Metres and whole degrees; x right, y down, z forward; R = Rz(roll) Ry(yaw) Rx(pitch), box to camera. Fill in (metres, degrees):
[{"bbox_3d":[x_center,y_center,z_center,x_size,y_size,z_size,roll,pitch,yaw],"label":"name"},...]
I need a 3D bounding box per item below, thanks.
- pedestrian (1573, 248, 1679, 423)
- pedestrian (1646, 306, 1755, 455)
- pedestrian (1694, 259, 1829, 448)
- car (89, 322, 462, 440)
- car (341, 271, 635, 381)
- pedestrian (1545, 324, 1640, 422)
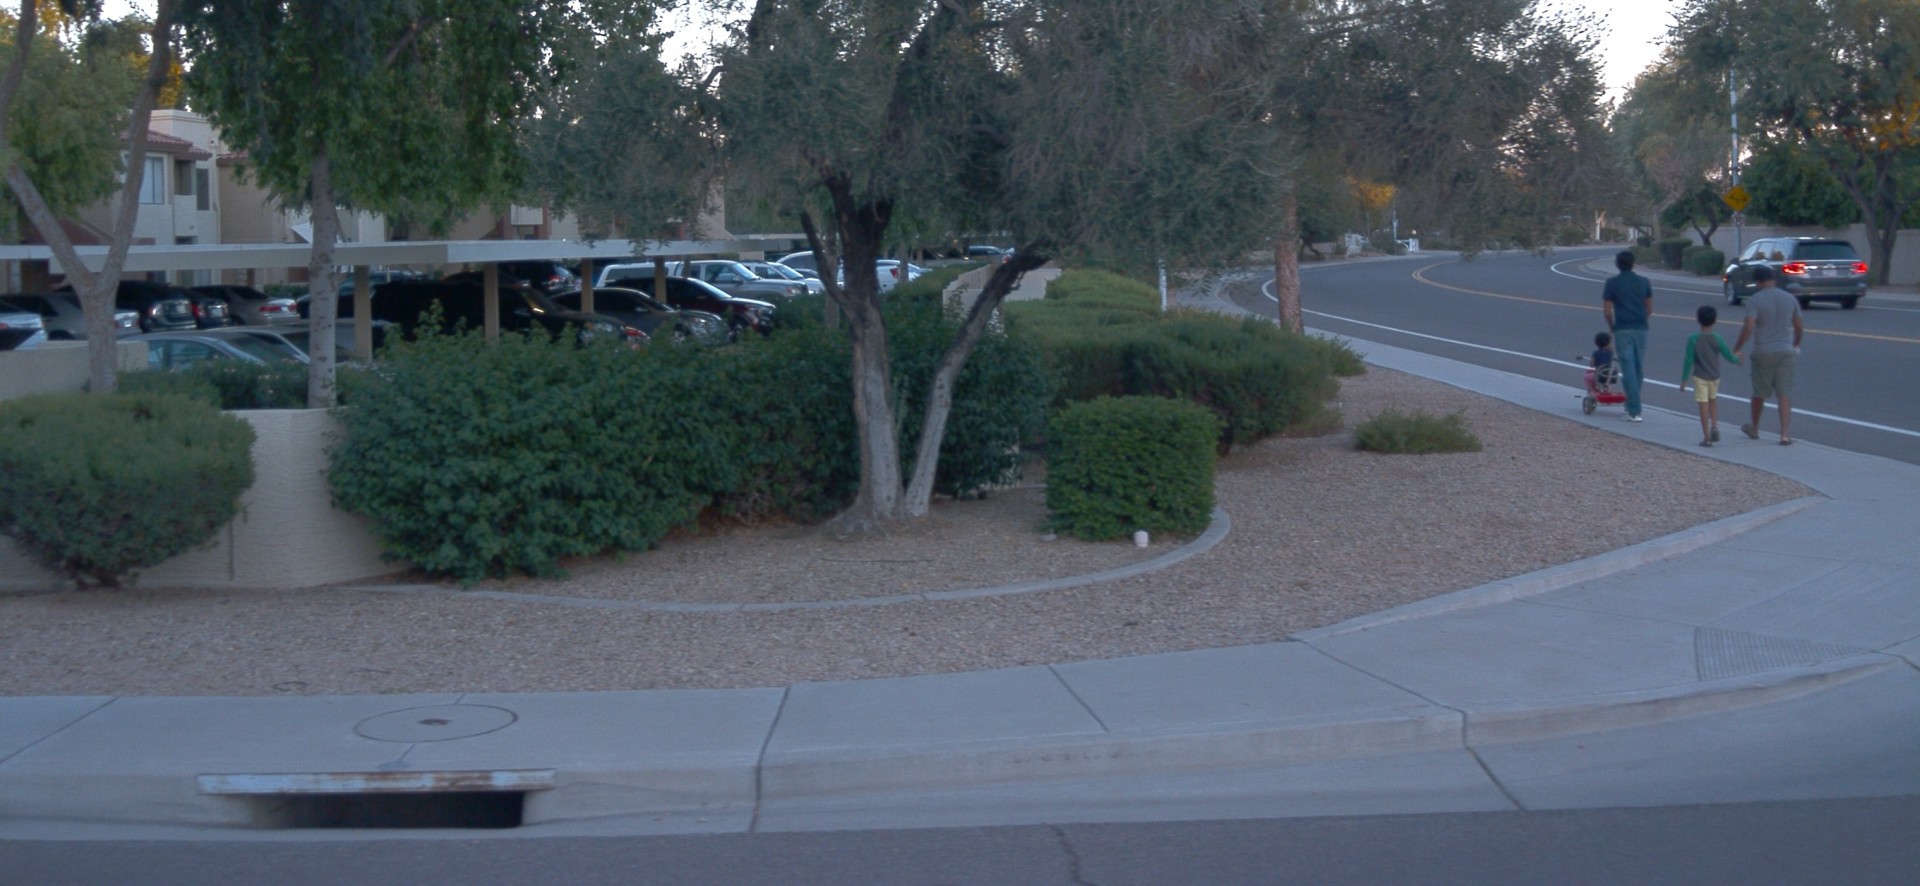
[{"bbox_3d":[6.976,-1.150,21.866,0.773,1.777,0.935,0,2,-4],"label":"pedestrian"},{"bbox_3d":[6.783,-0.587,19.104,0.740,1.298,0.753,0,2,1],"label":"pedestrian"},{"bbox_3d":[7.419,-0.853,19.328,0.900,1.687,0.958,0,2,1],"label":"pedestrian"},{"bbox_3d":[-9.740,-0.922,29.804,4.691,1.505,1.902,1,4,9],"label":"car"},{"bbox_3d":[-8.601,-2.176,38.264,4.818,1.895,2.161,0,4,4],"label":"car"},{"bbox_3d":[6.865,-0.777,22.663,0.628,0.977,1.071,-1,4,-6],"label":"pedestrian"}]
